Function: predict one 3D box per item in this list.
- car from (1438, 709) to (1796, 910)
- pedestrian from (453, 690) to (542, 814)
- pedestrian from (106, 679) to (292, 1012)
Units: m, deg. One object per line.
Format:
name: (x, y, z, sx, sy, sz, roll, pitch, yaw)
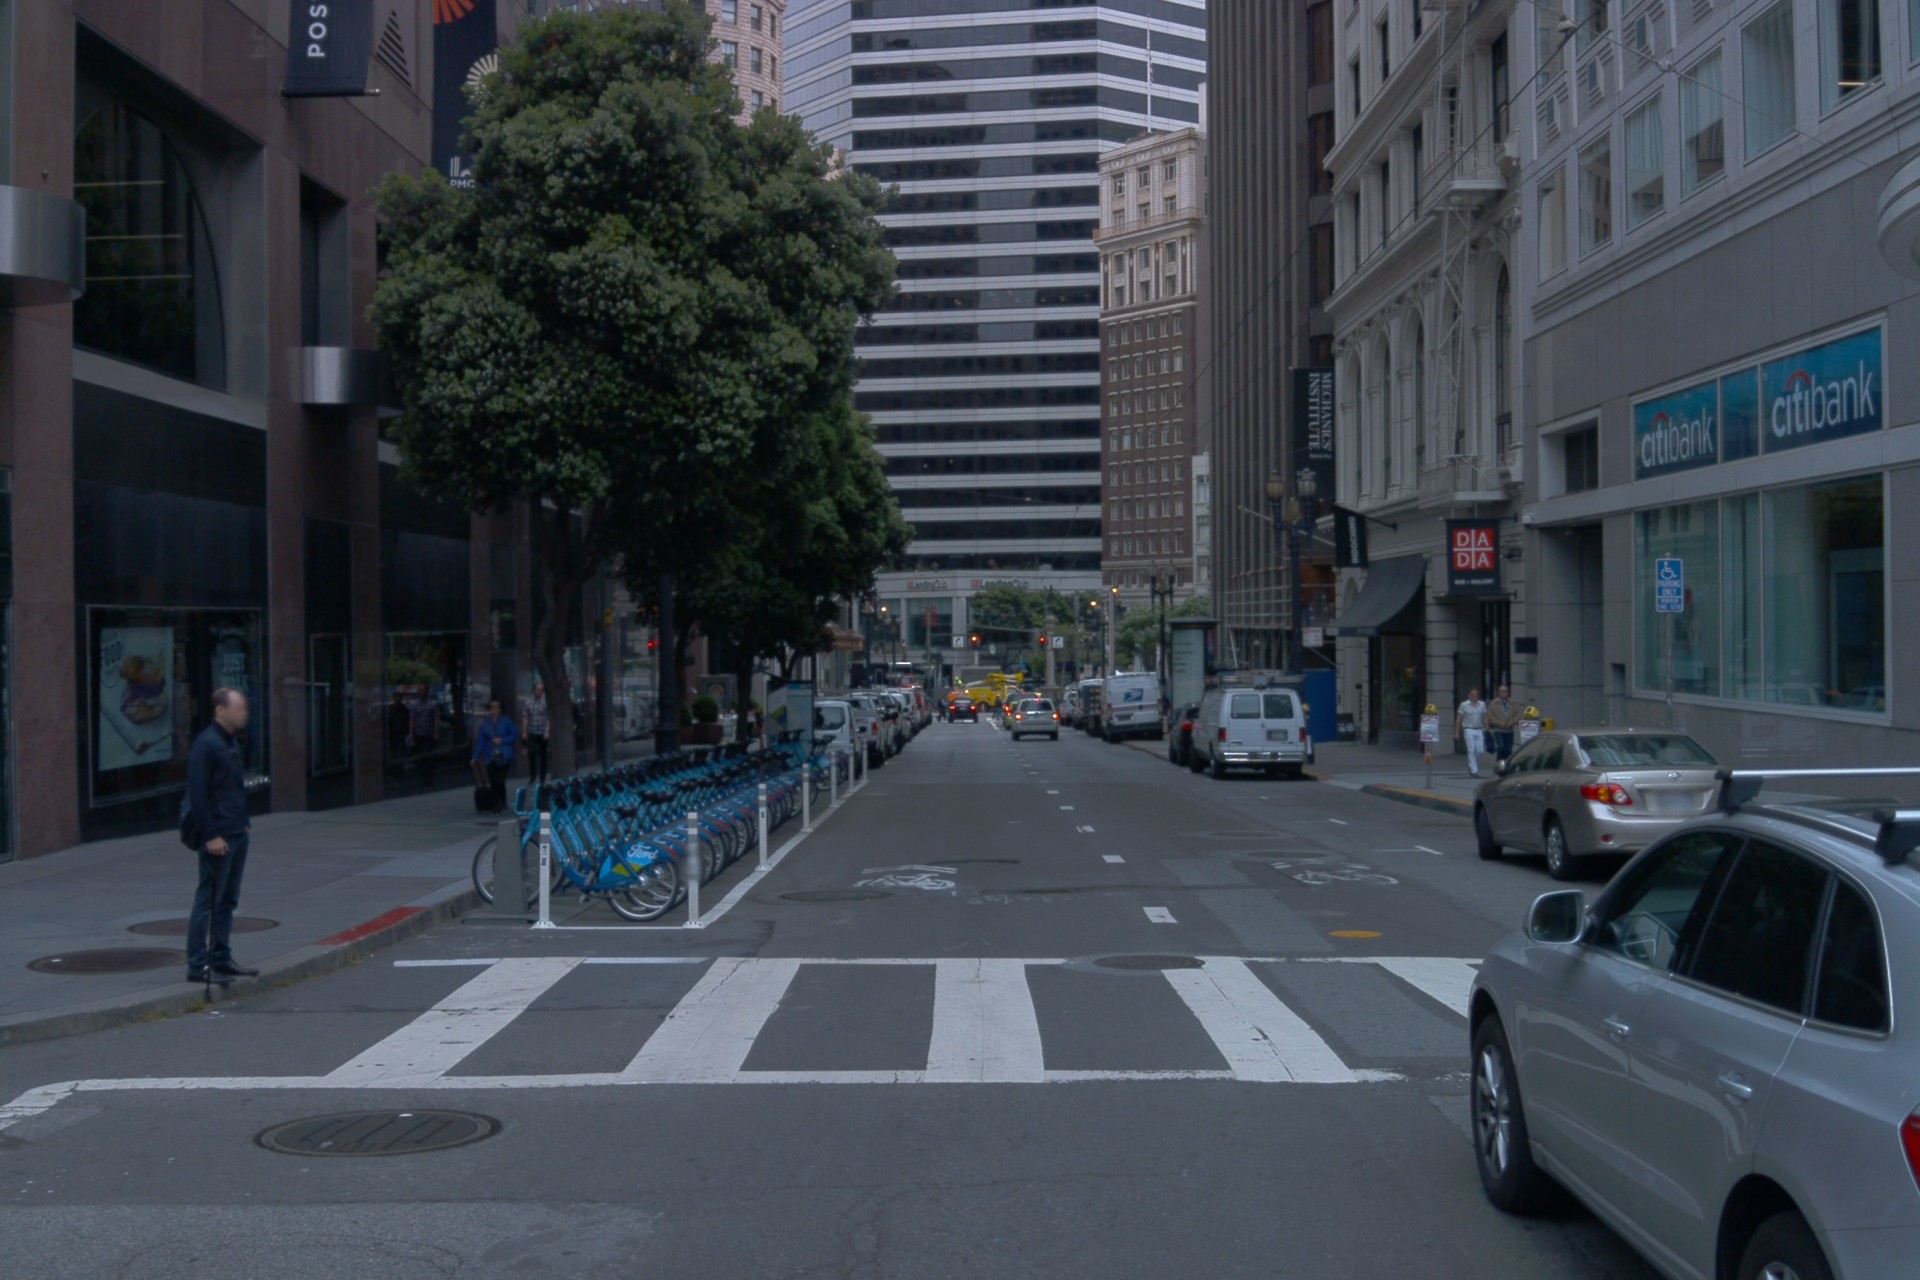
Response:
car: (6.473, 1.608, 20.970, 2.063, 1.600, 4.601, 0, 1, -1)
pedestrian: (-6.444, 1.548, 28.833, 0.943, 1.660, 1.157, 0, 1, 2)
pedestrian: (-4.704, 1.242, 12.820, 0.775, 1.970, 0.820, 0, 1, 6)
